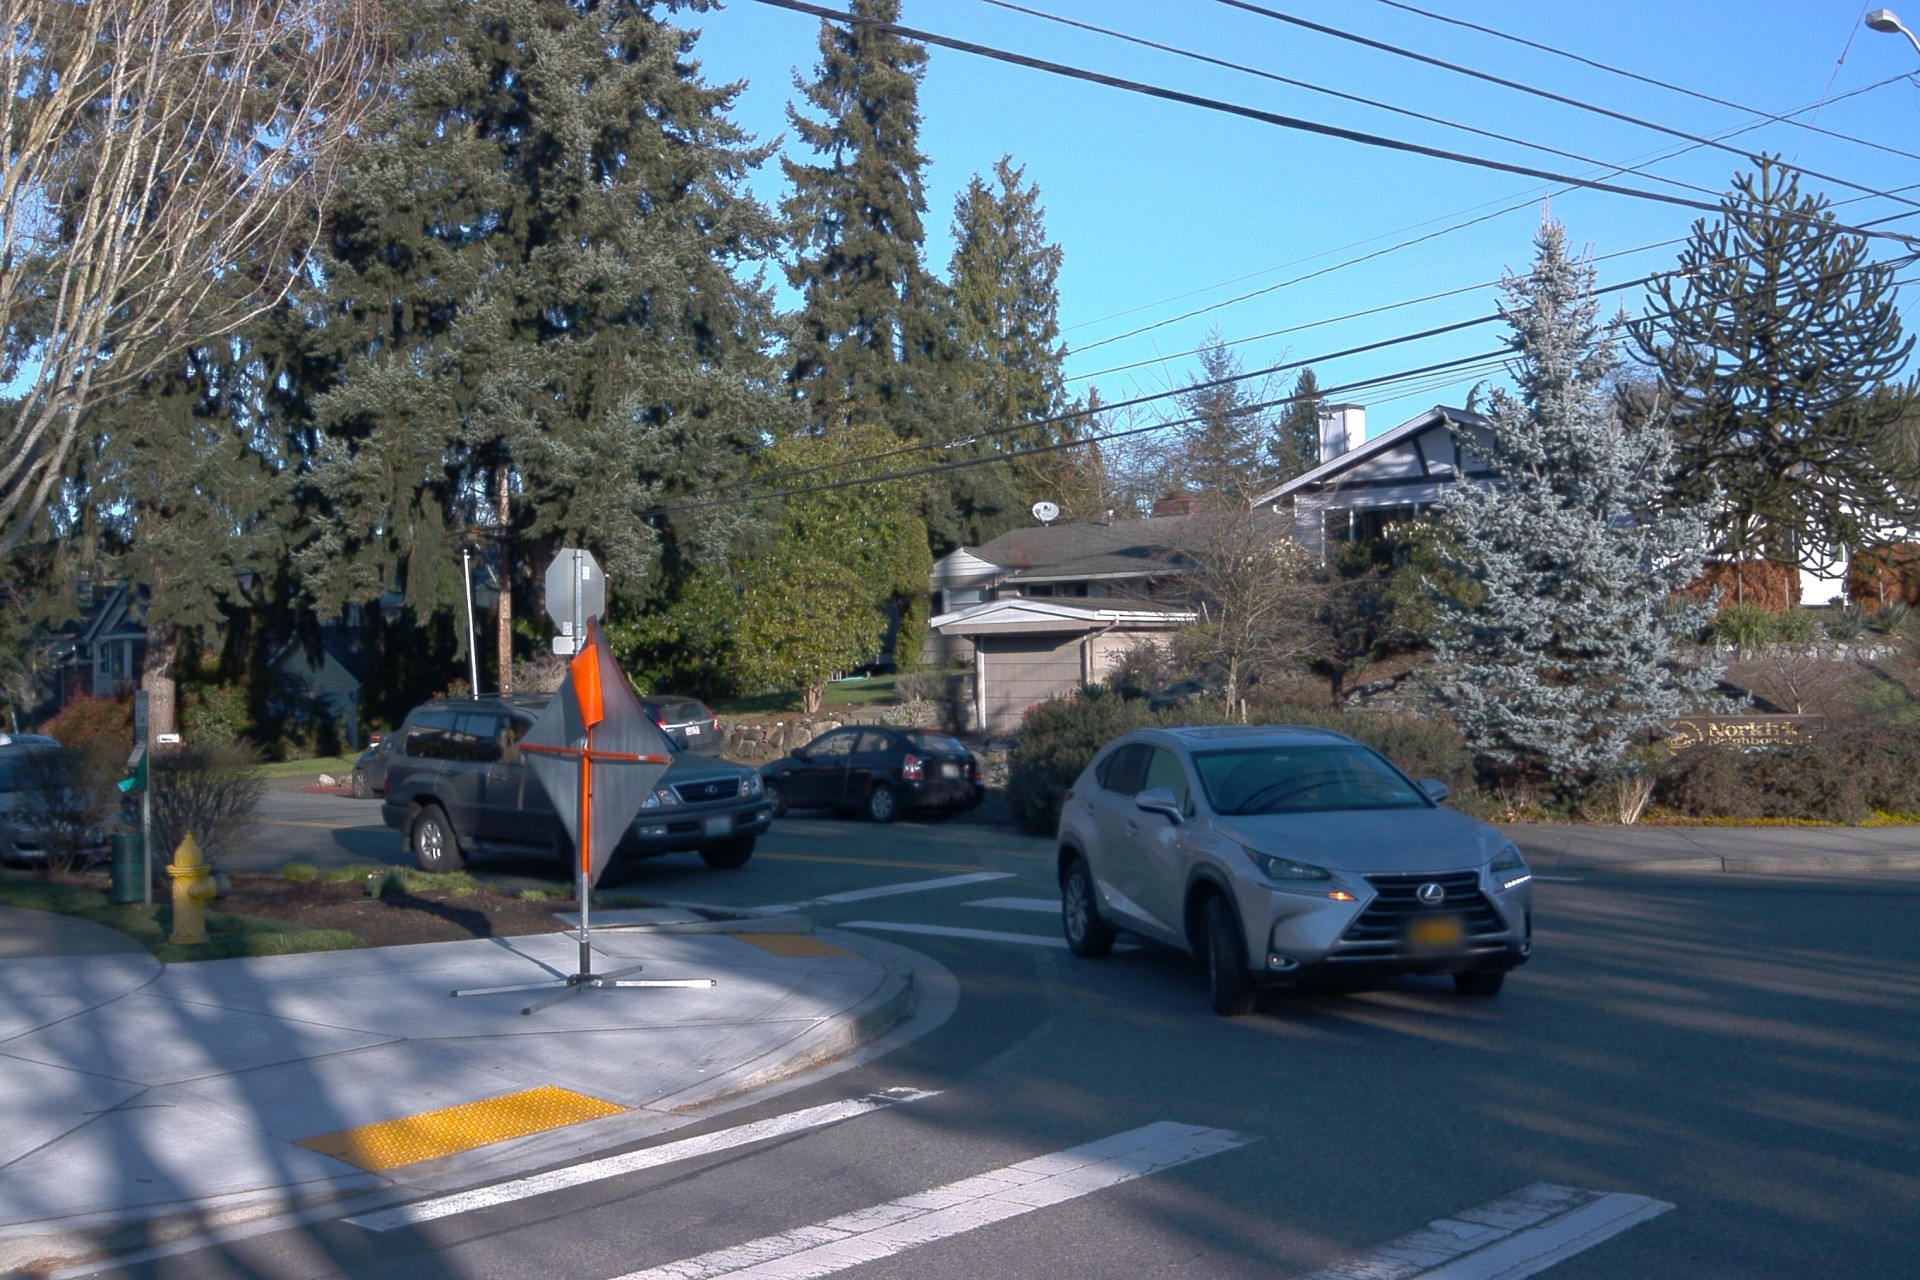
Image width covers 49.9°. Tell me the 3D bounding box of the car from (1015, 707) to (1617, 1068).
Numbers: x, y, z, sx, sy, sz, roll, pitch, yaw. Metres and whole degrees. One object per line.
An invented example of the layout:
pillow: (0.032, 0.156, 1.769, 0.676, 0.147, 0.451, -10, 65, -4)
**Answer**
car: (2.019, 1.388, 13.426, 2.194, 1.680, 4.685, 0, 1, -13)

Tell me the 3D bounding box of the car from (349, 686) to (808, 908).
car: (-4.186, 1.547, 22.134, 5.007, 1.930, 2.286, 1, 1, 43)

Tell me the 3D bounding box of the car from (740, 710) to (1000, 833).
car: (-1.406, 1.927, 31.150, 3.864, 1.540, 1.773, 1, 1, 45)
